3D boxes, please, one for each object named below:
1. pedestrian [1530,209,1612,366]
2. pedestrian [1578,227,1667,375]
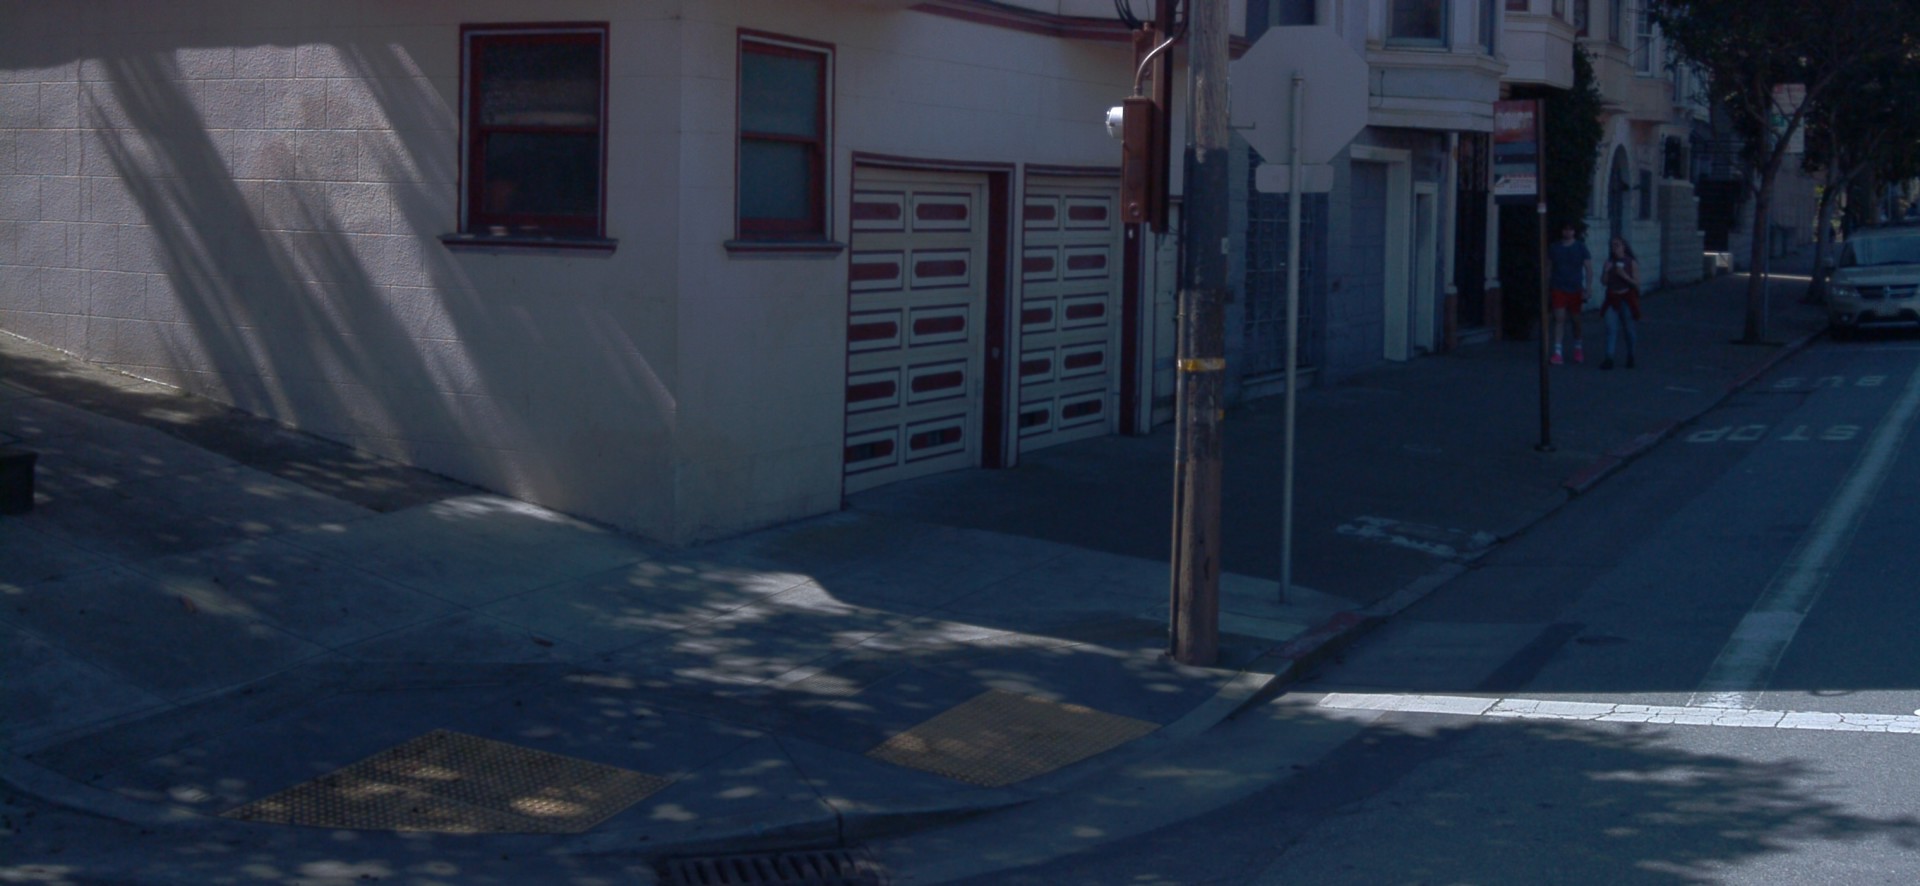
[{"bbox_3d":[7.711,-1.980,25.898,0.805,1.925,0.887,1,3,29],"label":"pedestrian"},{"bbox_3d":[8.237,-1.788,25.528,0.862,1.775,0.995,1,3,29],"label":"pedestrian"}]
